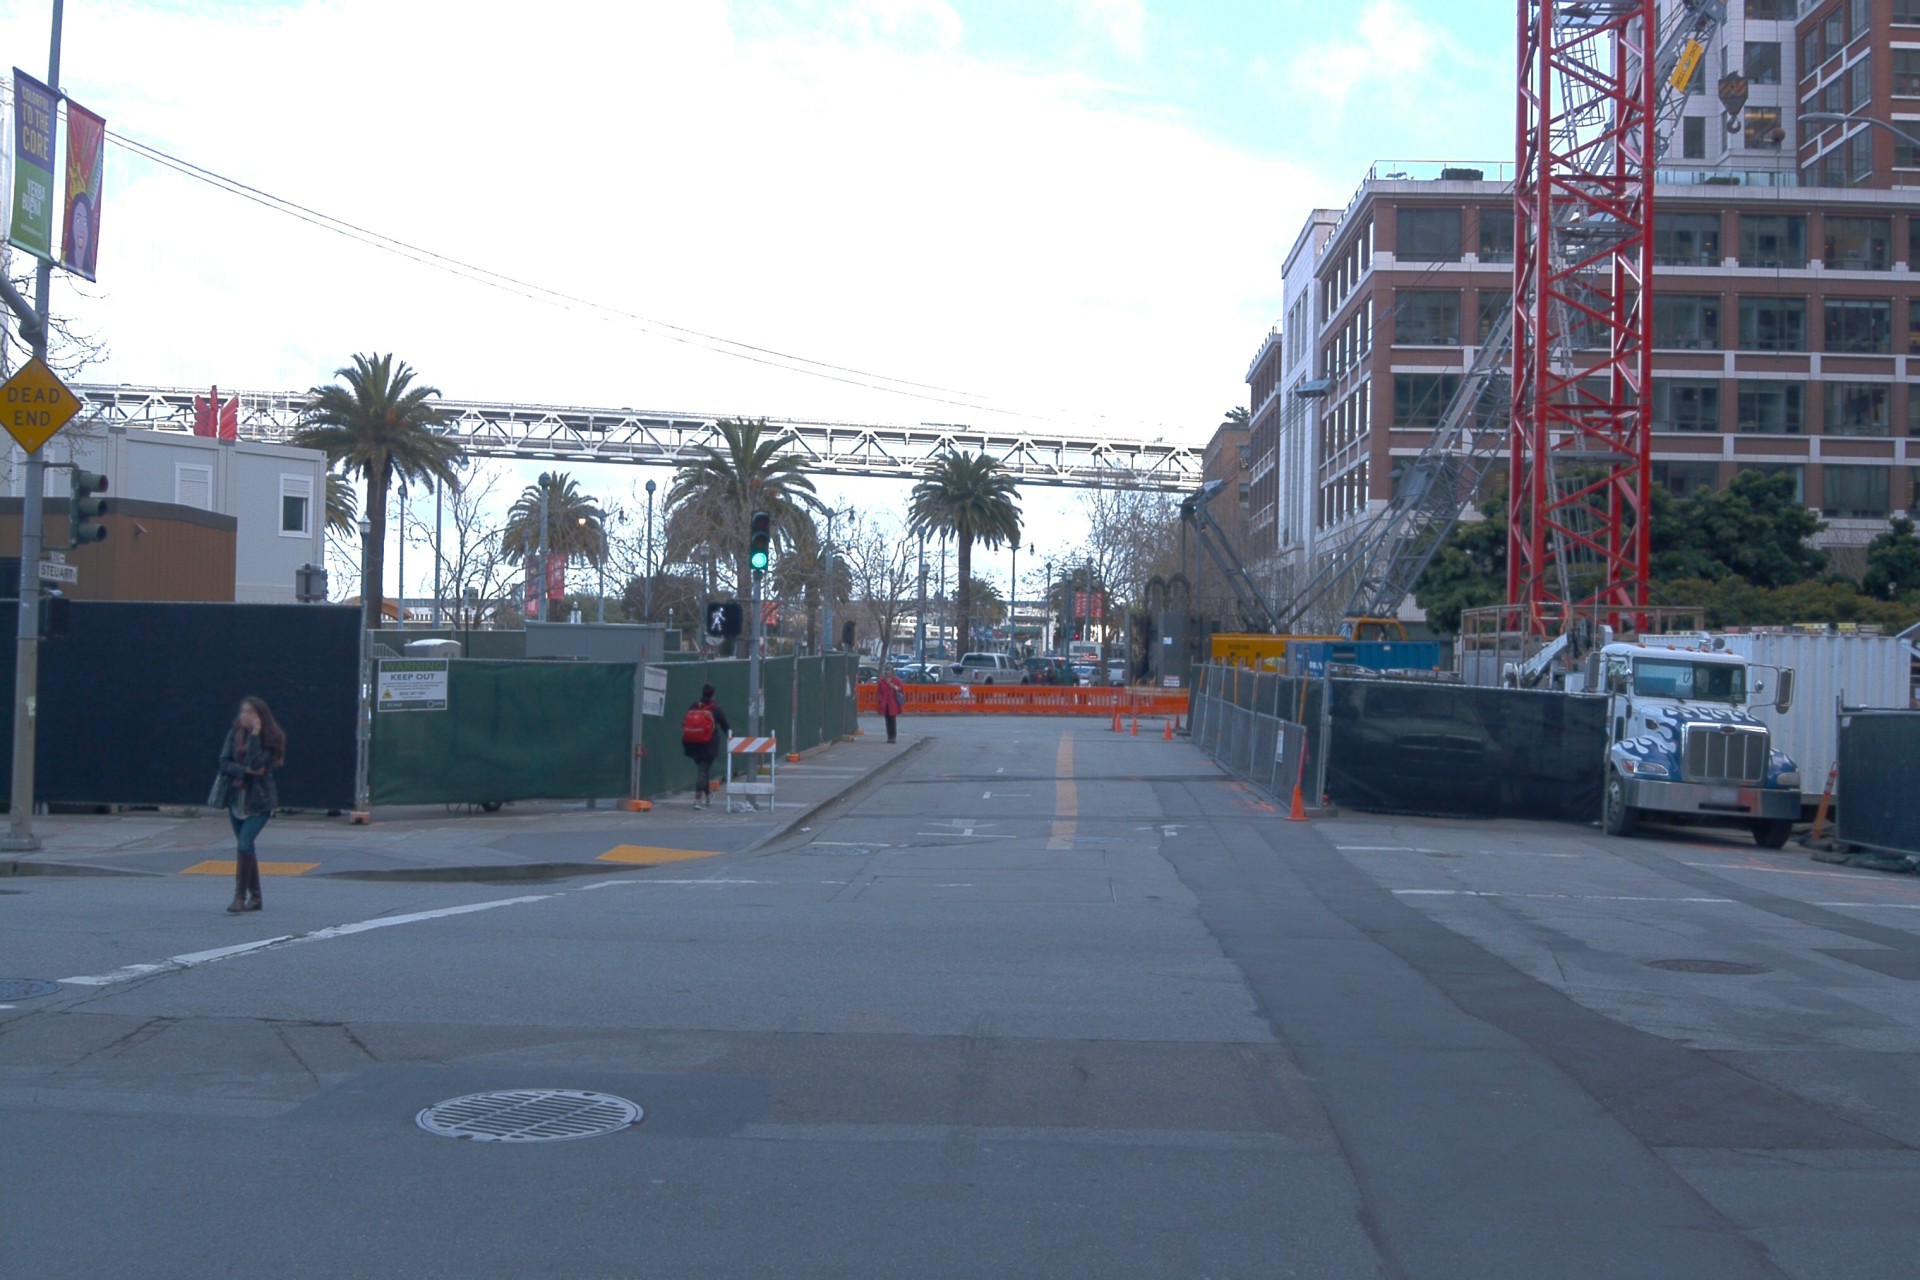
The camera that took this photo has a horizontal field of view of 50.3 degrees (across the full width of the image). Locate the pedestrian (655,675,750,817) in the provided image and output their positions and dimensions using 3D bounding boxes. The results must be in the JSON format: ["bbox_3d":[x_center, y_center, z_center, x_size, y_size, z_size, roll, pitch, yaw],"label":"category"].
[{"bbox_3d":[-3.342,1.357,26.635,0.771,1.760,1.196,1,0,19],"label":"pedestrian"}]

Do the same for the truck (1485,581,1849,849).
[{"bbox_3d":[9.911,0.933,29.583,2.982,3.380,7.060,1,0,2],"label":"truck"}]

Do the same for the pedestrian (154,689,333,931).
[{"bbox_3d":[-5.412,1.254,15.501,0.848,1.720,1.092,1,0,10],"label":"pedestrian"}]

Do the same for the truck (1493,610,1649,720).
[{"bbox_3d":[9.197,0.340,31.043,1.127,1.550,4.267,1,0,1],"label":"truck"}]
